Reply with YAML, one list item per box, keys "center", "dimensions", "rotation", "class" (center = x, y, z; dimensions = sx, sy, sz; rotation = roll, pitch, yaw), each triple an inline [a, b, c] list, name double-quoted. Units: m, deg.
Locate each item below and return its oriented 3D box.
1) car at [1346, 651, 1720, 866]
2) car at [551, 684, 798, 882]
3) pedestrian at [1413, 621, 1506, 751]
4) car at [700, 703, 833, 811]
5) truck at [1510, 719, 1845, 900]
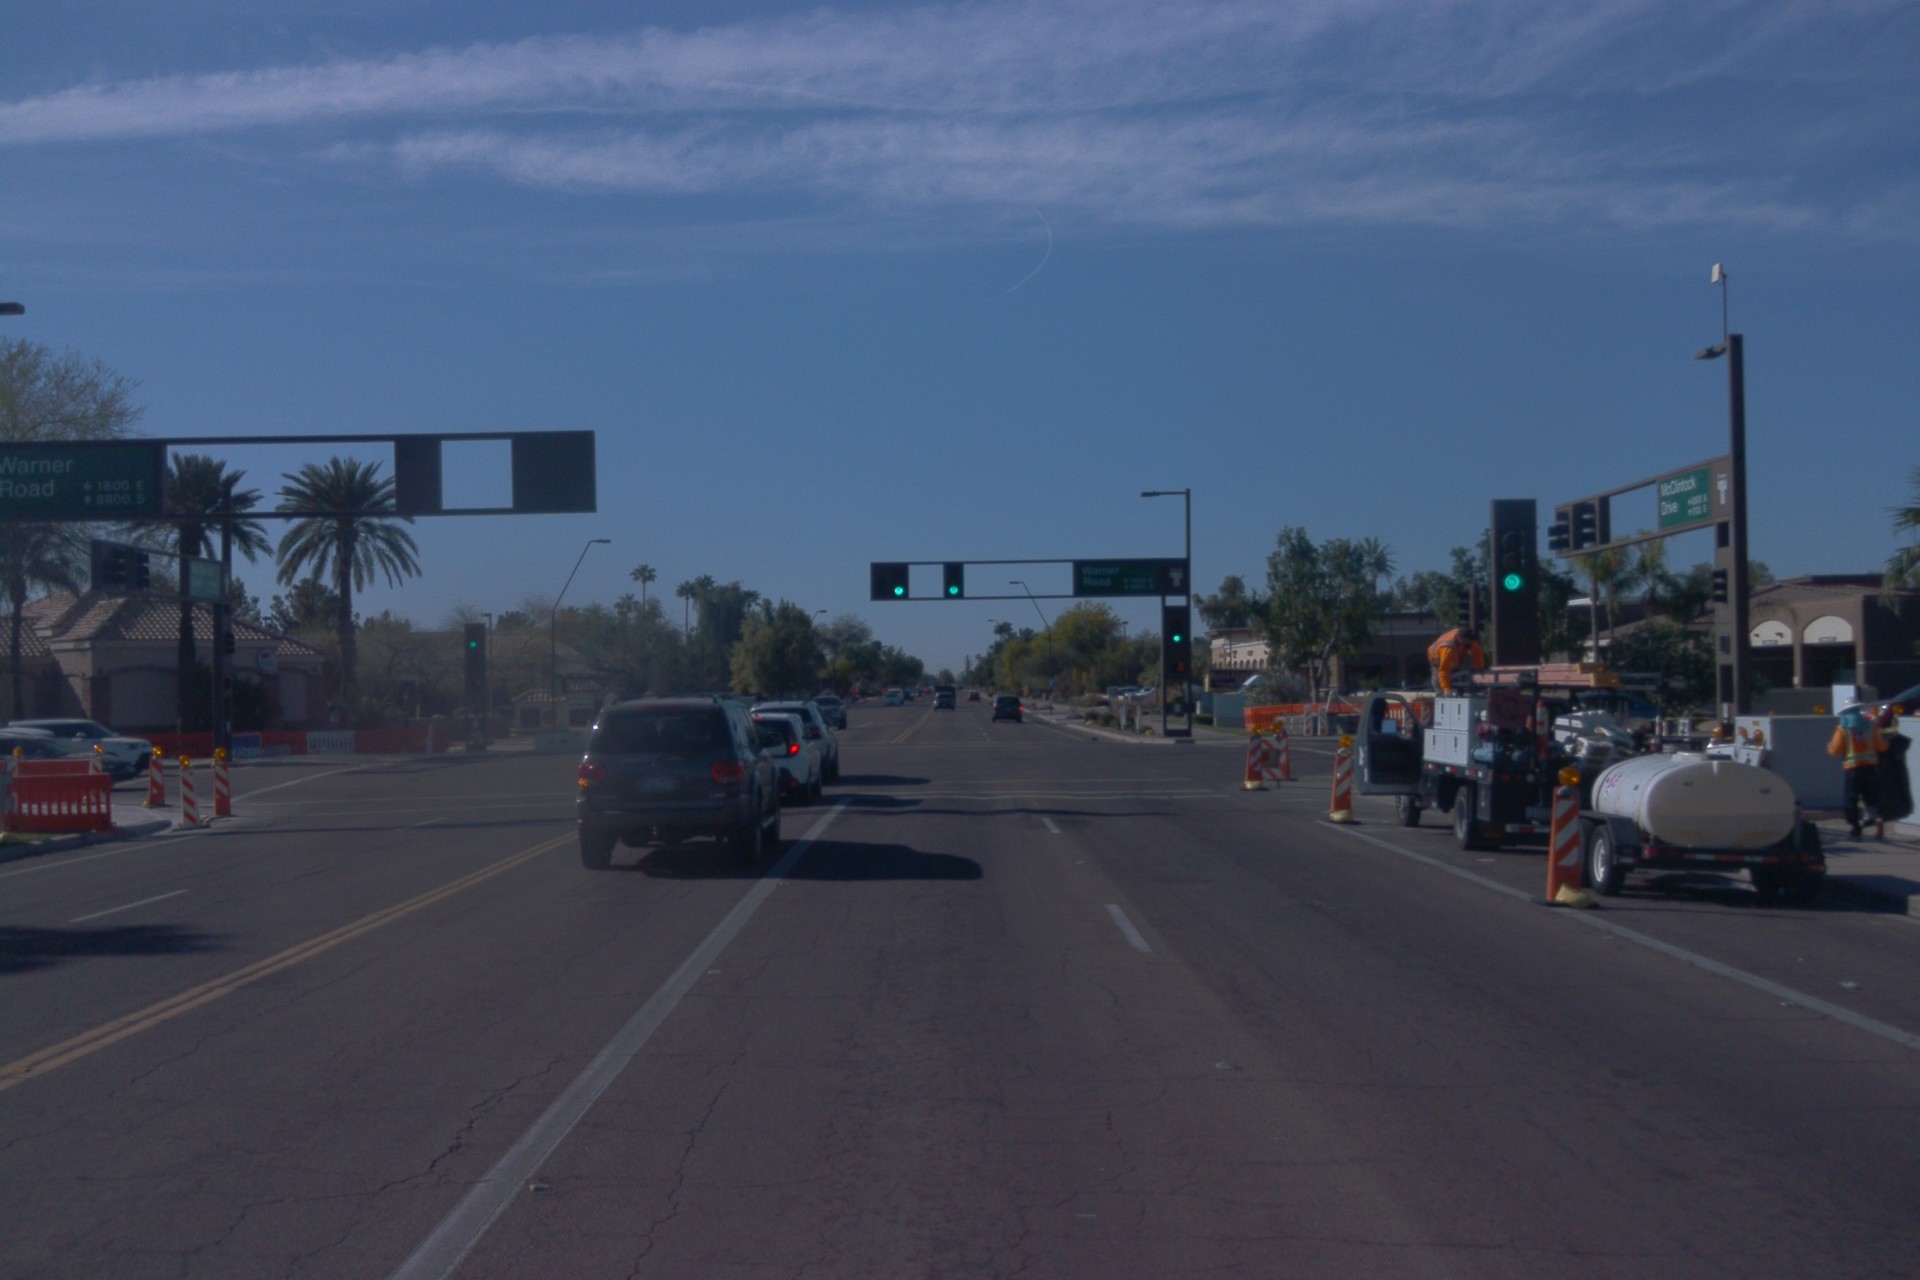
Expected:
- center: [7.398, 1.467, 28.047]
  dimensions: [2.956, 2.510, 7.189]
  rotation: [0, -1, -1]
  class: "car"
- center: [-3.243, 1.572, 24.763]
  dimensions: [2.283, 2.090, 5.332]
  rotation: [0, -1, -1]
  class: "car"
- center: [6.601, 0.606, 27.556]
  dimensions: [1.168, 1.690, 0.882]
  rotation: [0, -1, 13]
  class: "pedestrian"
- center: [-3.416, 2.052, 37.452]
  dimensions: [2.020, 1.780, 4.419]
  rotation: [0, -1, -1]
  class: "car"
- center: [7.342, 1.693, 21.744]
  dimensions: [2.342, 1.660, 3.637]
  rotation: [0, -1, 2]
  class: "truck"
